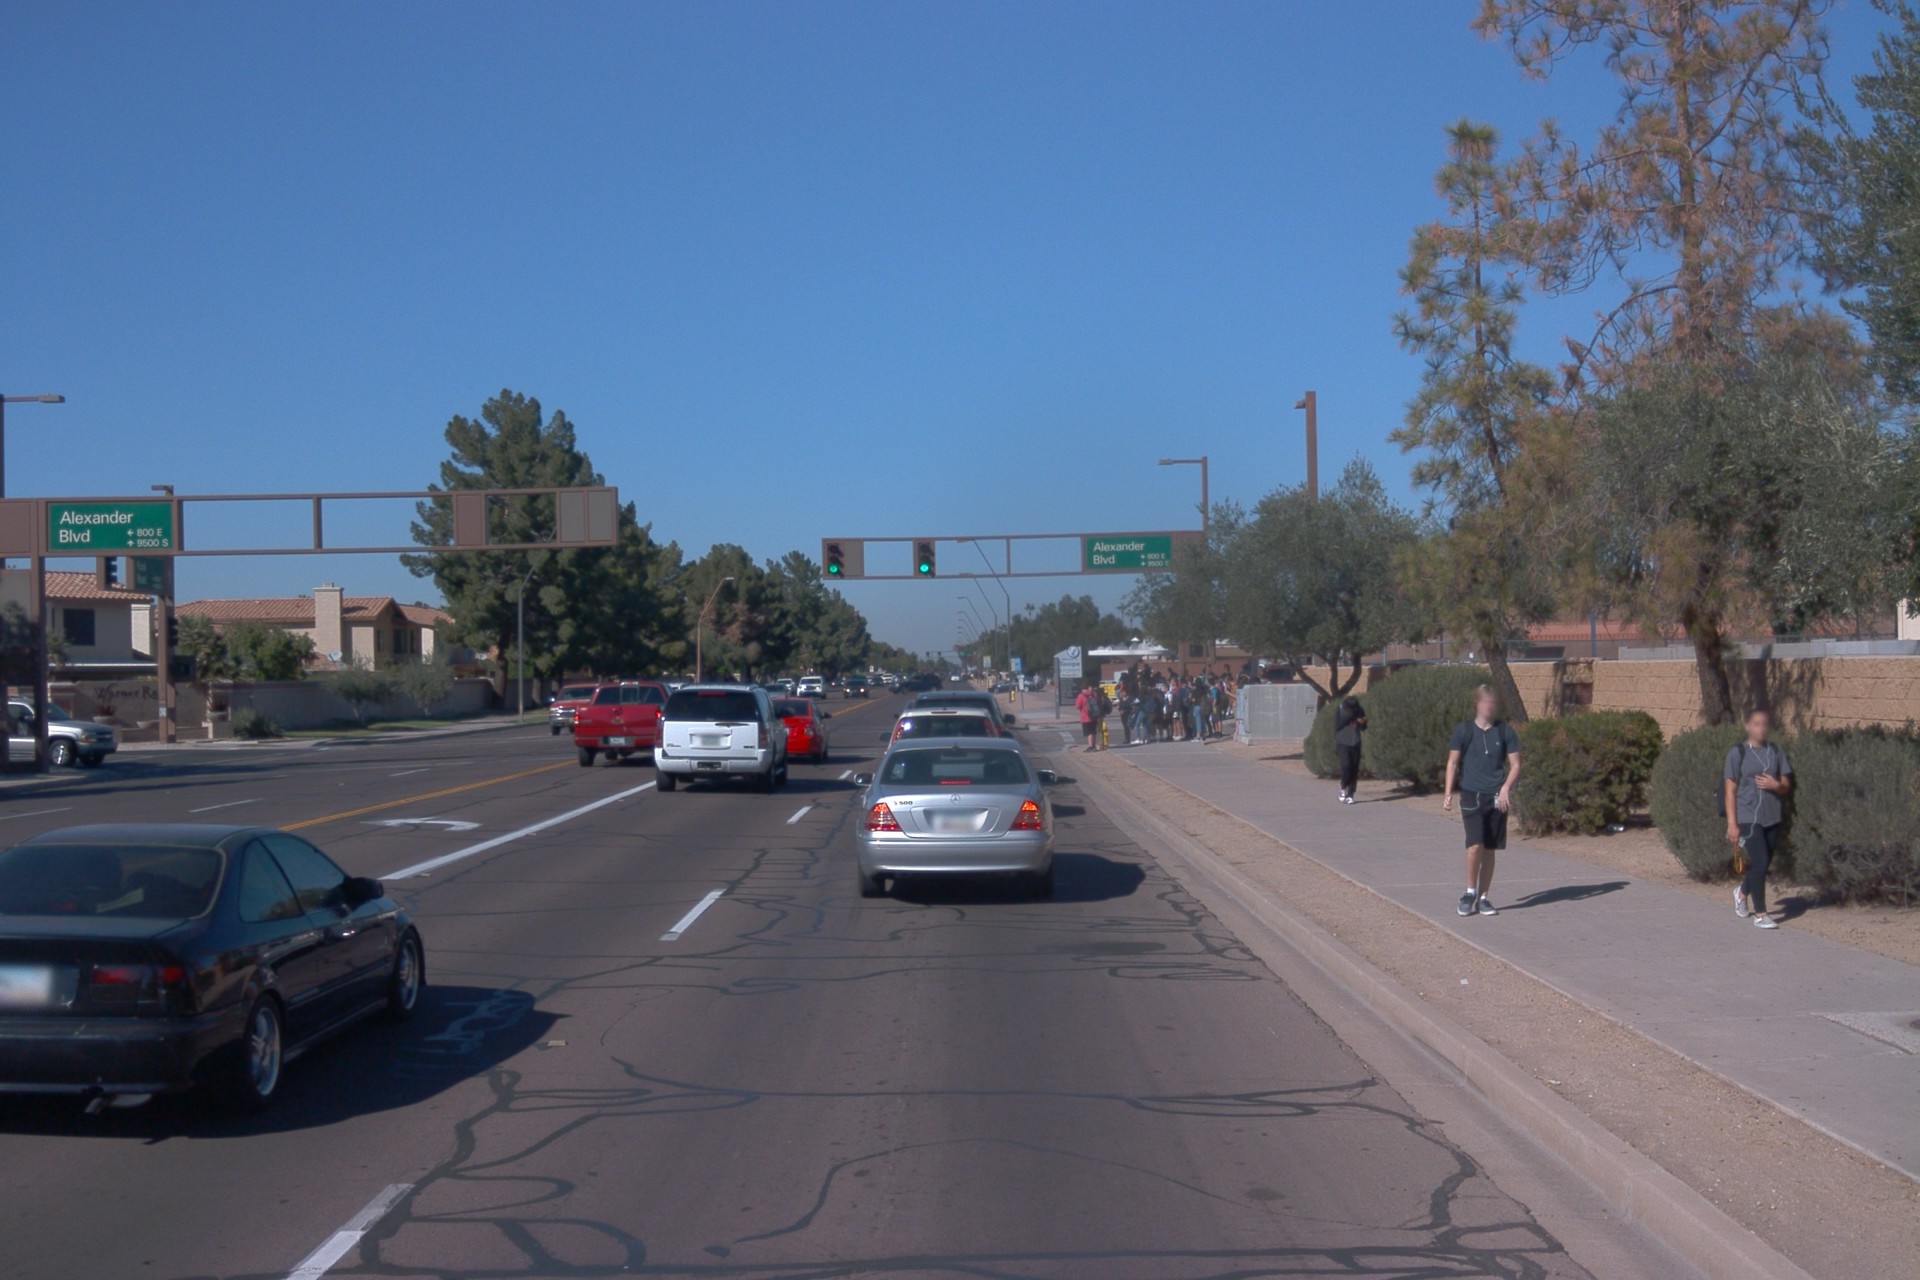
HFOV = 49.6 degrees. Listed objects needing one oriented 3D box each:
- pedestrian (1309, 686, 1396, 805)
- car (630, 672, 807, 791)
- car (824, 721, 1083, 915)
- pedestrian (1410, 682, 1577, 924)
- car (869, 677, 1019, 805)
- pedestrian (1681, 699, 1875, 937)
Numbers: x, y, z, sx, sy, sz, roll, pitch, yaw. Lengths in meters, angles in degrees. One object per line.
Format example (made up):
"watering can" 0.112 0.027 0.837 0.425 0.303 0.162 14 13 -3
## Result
"pedestrian" 5.567 1.484 29.542 1.000 1.650 1.000 0 -1 -3
"car" -4.236 1.582 37.339 2.513 1.980 4.967 0 -1 1
"car" -0.037 1.643 20.452 2.265 1.600 4.514 0 -1 1
"pedestrian" 4.199 1.257 16.452 1.042 1.840 1.162 0 -1 1
"car" -0.175 1.431 30.807 2.056 1.760 4.487 0 -1 1
"pedestrian" 5.985 1.276 15.274 1.000 1.680 1.000 0 -1 -3
